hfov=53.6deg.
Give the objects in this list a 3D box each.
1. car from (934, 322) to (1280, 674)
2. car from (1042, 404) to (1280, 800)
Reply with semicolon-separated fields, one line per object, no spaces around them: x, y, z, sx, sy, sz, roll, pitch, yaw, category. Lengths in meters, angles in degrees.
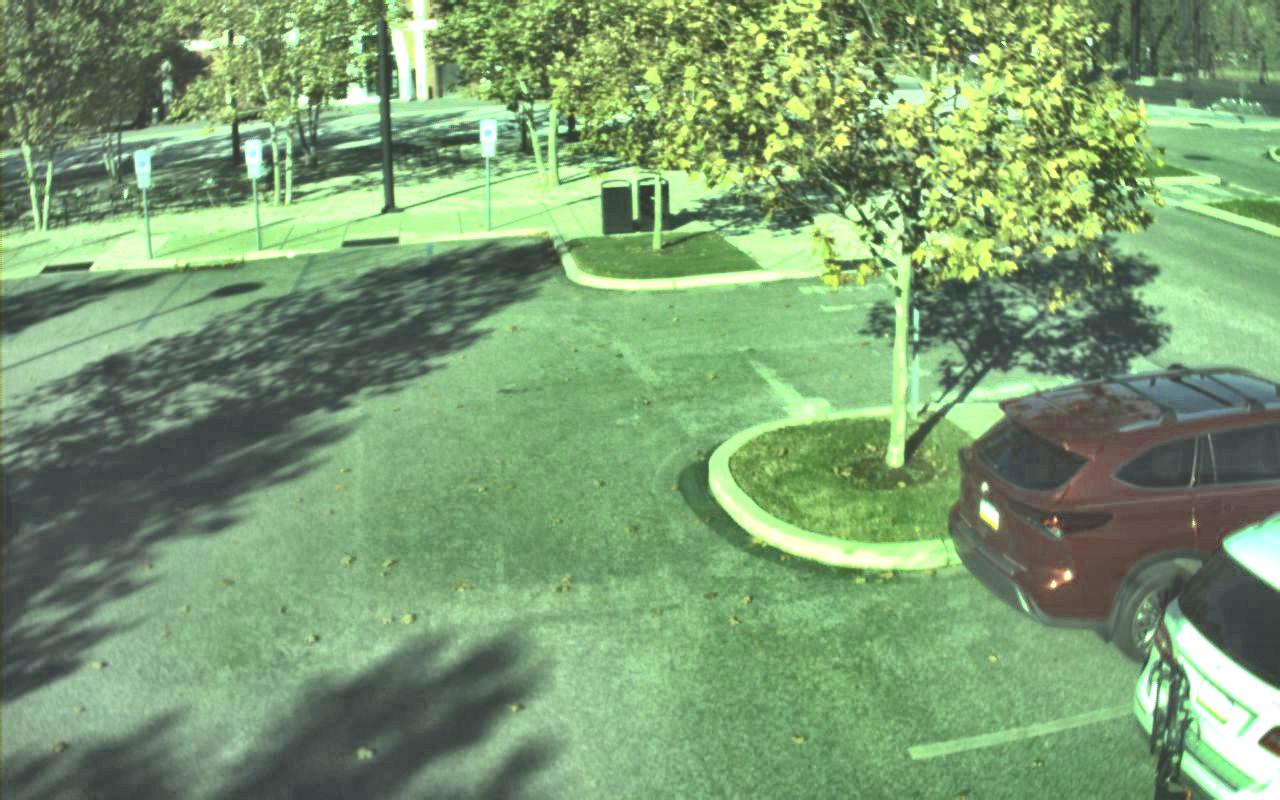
4.615;0.573;8.723;4.453;1.713;1.973;-3;16;-7;car
4.746;1.324;6.108;4.521;1.655;1.991;-4;17;-11;car
